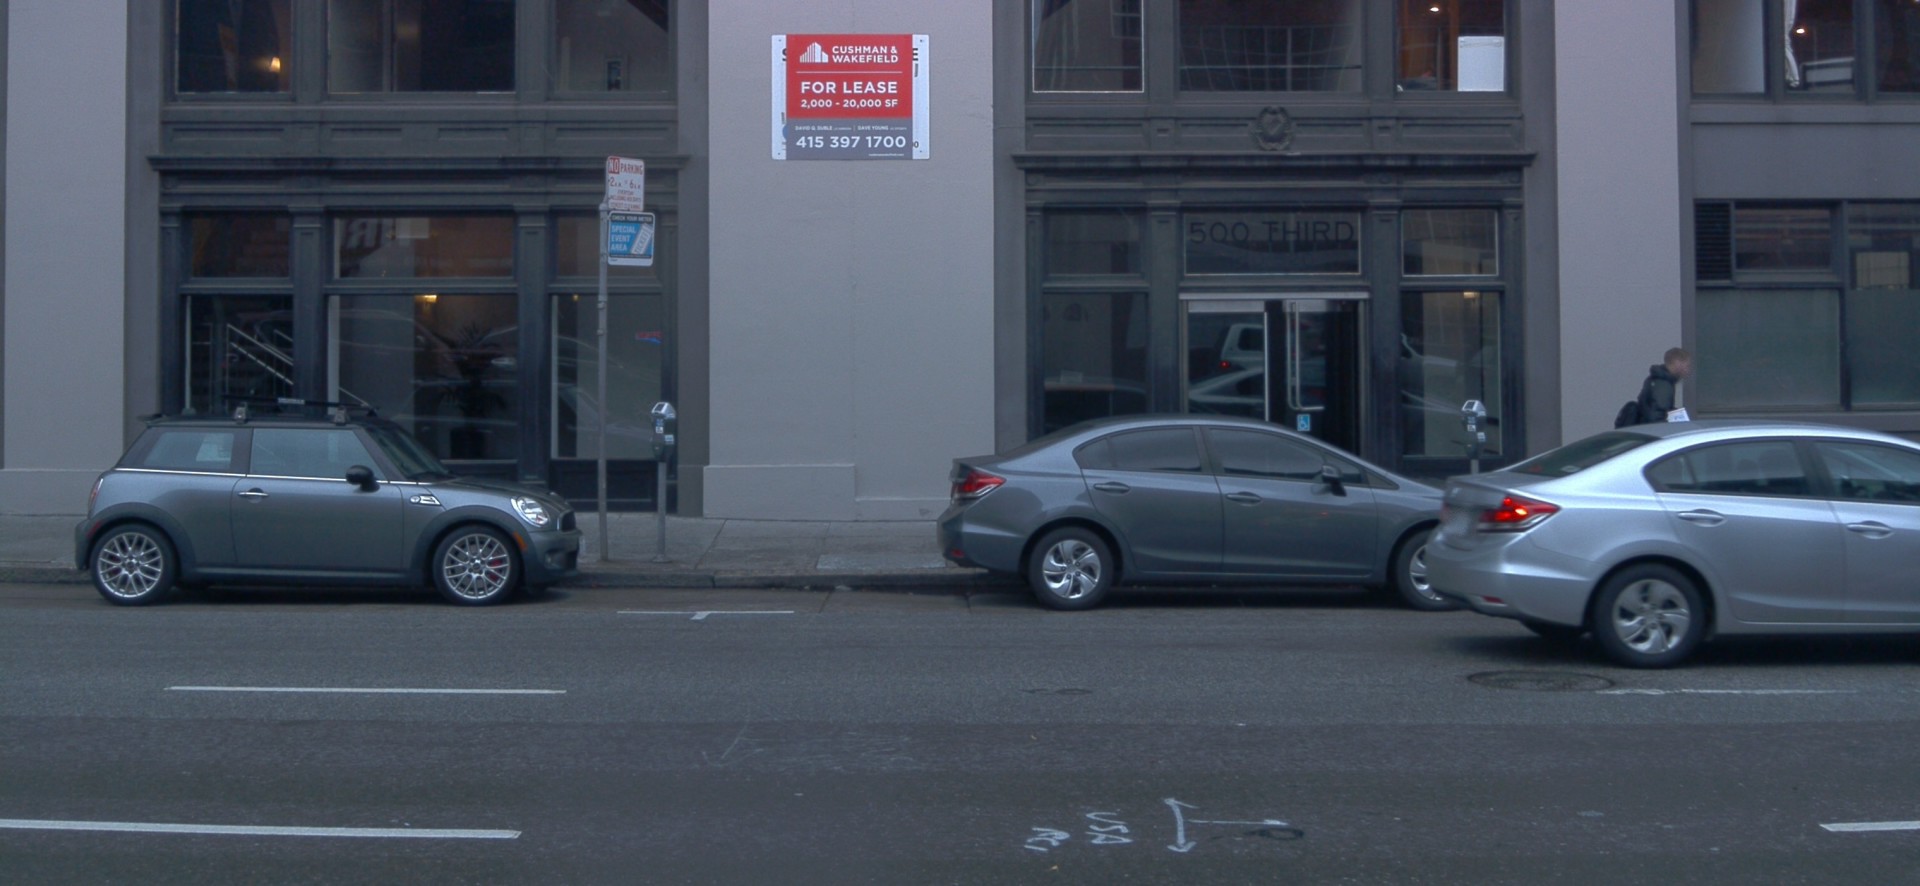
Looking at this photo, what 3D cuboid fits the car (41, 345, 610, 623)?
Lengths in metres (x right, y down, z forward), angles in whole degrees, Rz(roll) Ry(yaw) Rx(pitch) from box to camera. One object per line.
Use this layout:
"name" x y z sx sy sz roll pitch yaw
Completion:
"car" -4.702 0.242 15.836 3.807 1.877 1.865 0 3 -3

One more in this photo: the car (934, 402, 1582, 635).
"car" 2.133 0.514 15.850 4.616 1.477 2.025 0 4 -2

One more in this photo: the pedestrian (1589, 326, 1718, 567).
"pedestrian" 6.039 0.001 18.121 0.954 1.990 0.923 0 1 11
